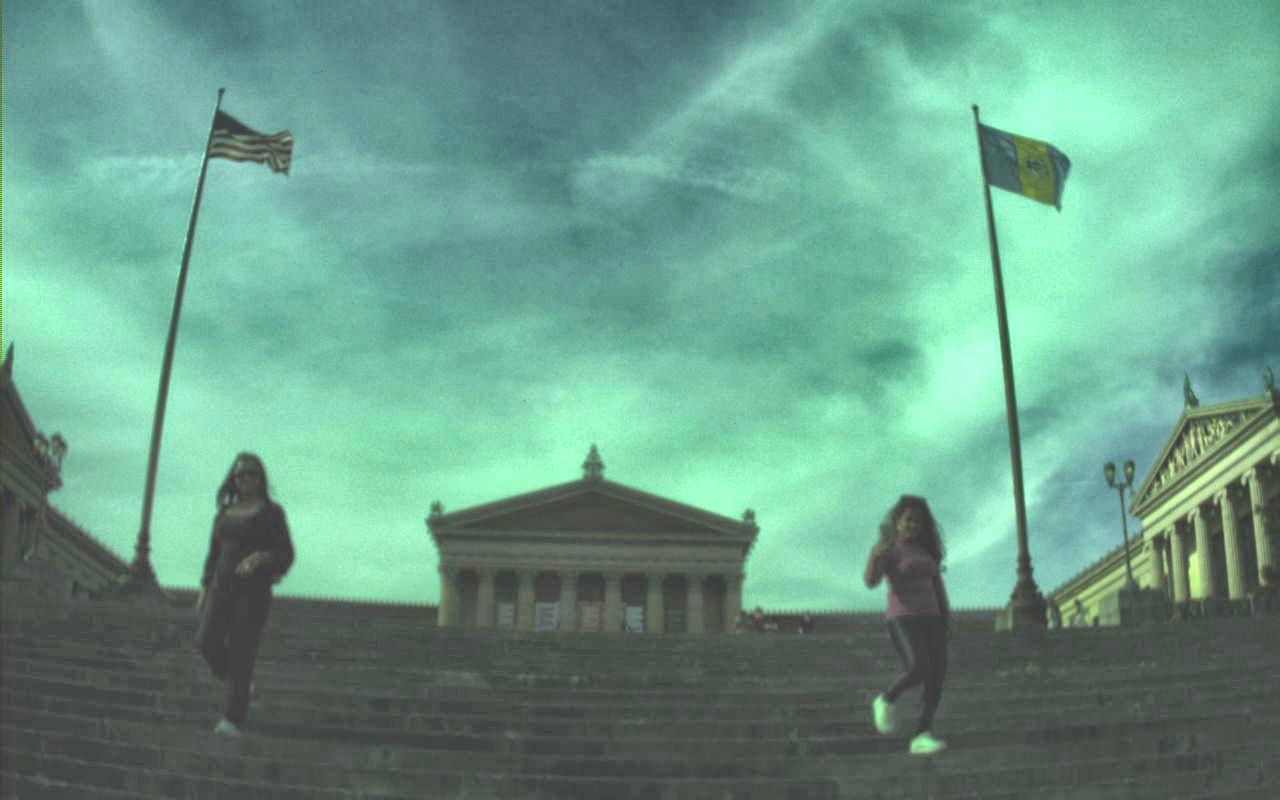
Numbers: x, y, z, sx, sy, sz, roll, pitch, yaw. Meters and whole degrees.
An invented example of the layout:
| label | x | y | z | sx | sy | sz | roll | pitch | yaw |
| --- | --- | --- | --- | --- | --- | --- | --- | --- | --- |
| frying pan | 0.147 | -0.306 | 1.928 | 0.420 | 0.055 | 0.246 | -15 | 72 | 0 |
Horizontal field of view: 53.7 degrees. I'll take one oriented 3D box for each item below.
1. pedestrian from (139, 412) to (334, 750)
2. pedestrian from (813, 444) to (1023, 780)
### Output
| label | x | y | z | sx | sy | sz | roll | pitch | yaw |
| --- | --- | --- | --- | --- | --- | --- | --- | --- | --- |
| pedestrian | -2.258 | 0.976 | 6.646 | 0.763 | 1.765 | 0.780 | 1 | 0 | 17 |
| pedestrian | 1.516 | 1.123 | 6.697 | 0.767 | 1.698 | 0.808 | 0 | 0 | -30 |
